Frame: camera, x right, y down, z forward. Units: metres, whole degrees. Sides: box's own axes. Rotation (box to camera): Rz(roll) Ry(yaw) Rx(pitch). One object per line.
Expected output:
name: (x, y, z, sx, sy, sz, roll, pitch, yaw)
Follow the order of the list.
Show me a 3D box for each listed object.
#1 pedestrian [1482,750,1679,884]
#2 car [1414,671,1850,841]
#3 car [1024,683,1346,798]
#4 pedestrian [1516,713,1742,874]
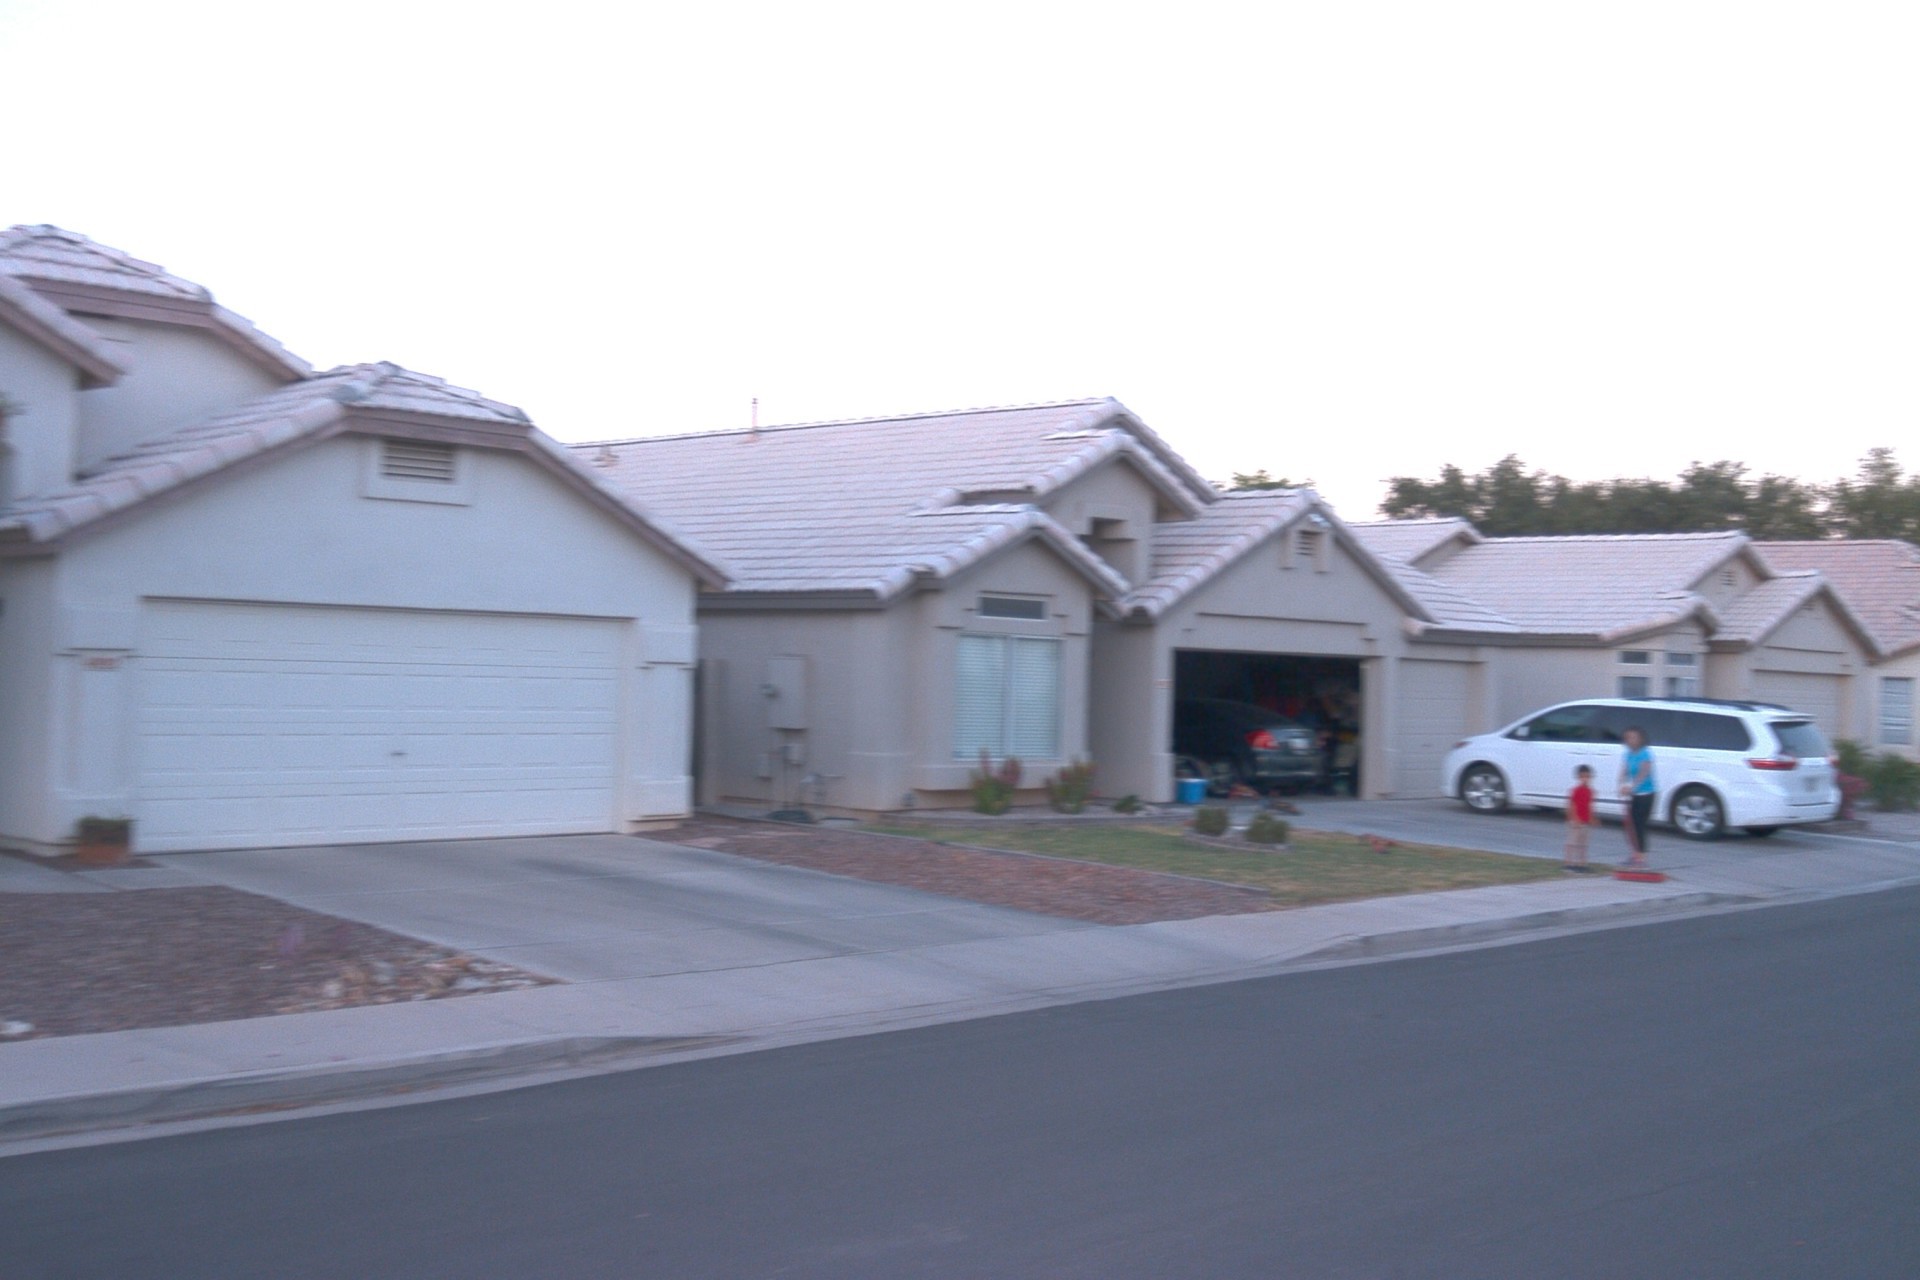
pedestrian: (6.443, 1.807, 21.665, 1.521, 1.240, 1.367, 1, -1, -43)
car: (8.945, 1.461, 28.112, 2.350, 2.040, 5.063, 1, -1, -44)
car: (3.286, 1.438, 31.142, 4.592, 1.520, 1.882, 0, -1, 44)
pedestrian: (7.072, 1.583, 22.122, 1.513, 1.570, 1.681, 1, -1, -30)
